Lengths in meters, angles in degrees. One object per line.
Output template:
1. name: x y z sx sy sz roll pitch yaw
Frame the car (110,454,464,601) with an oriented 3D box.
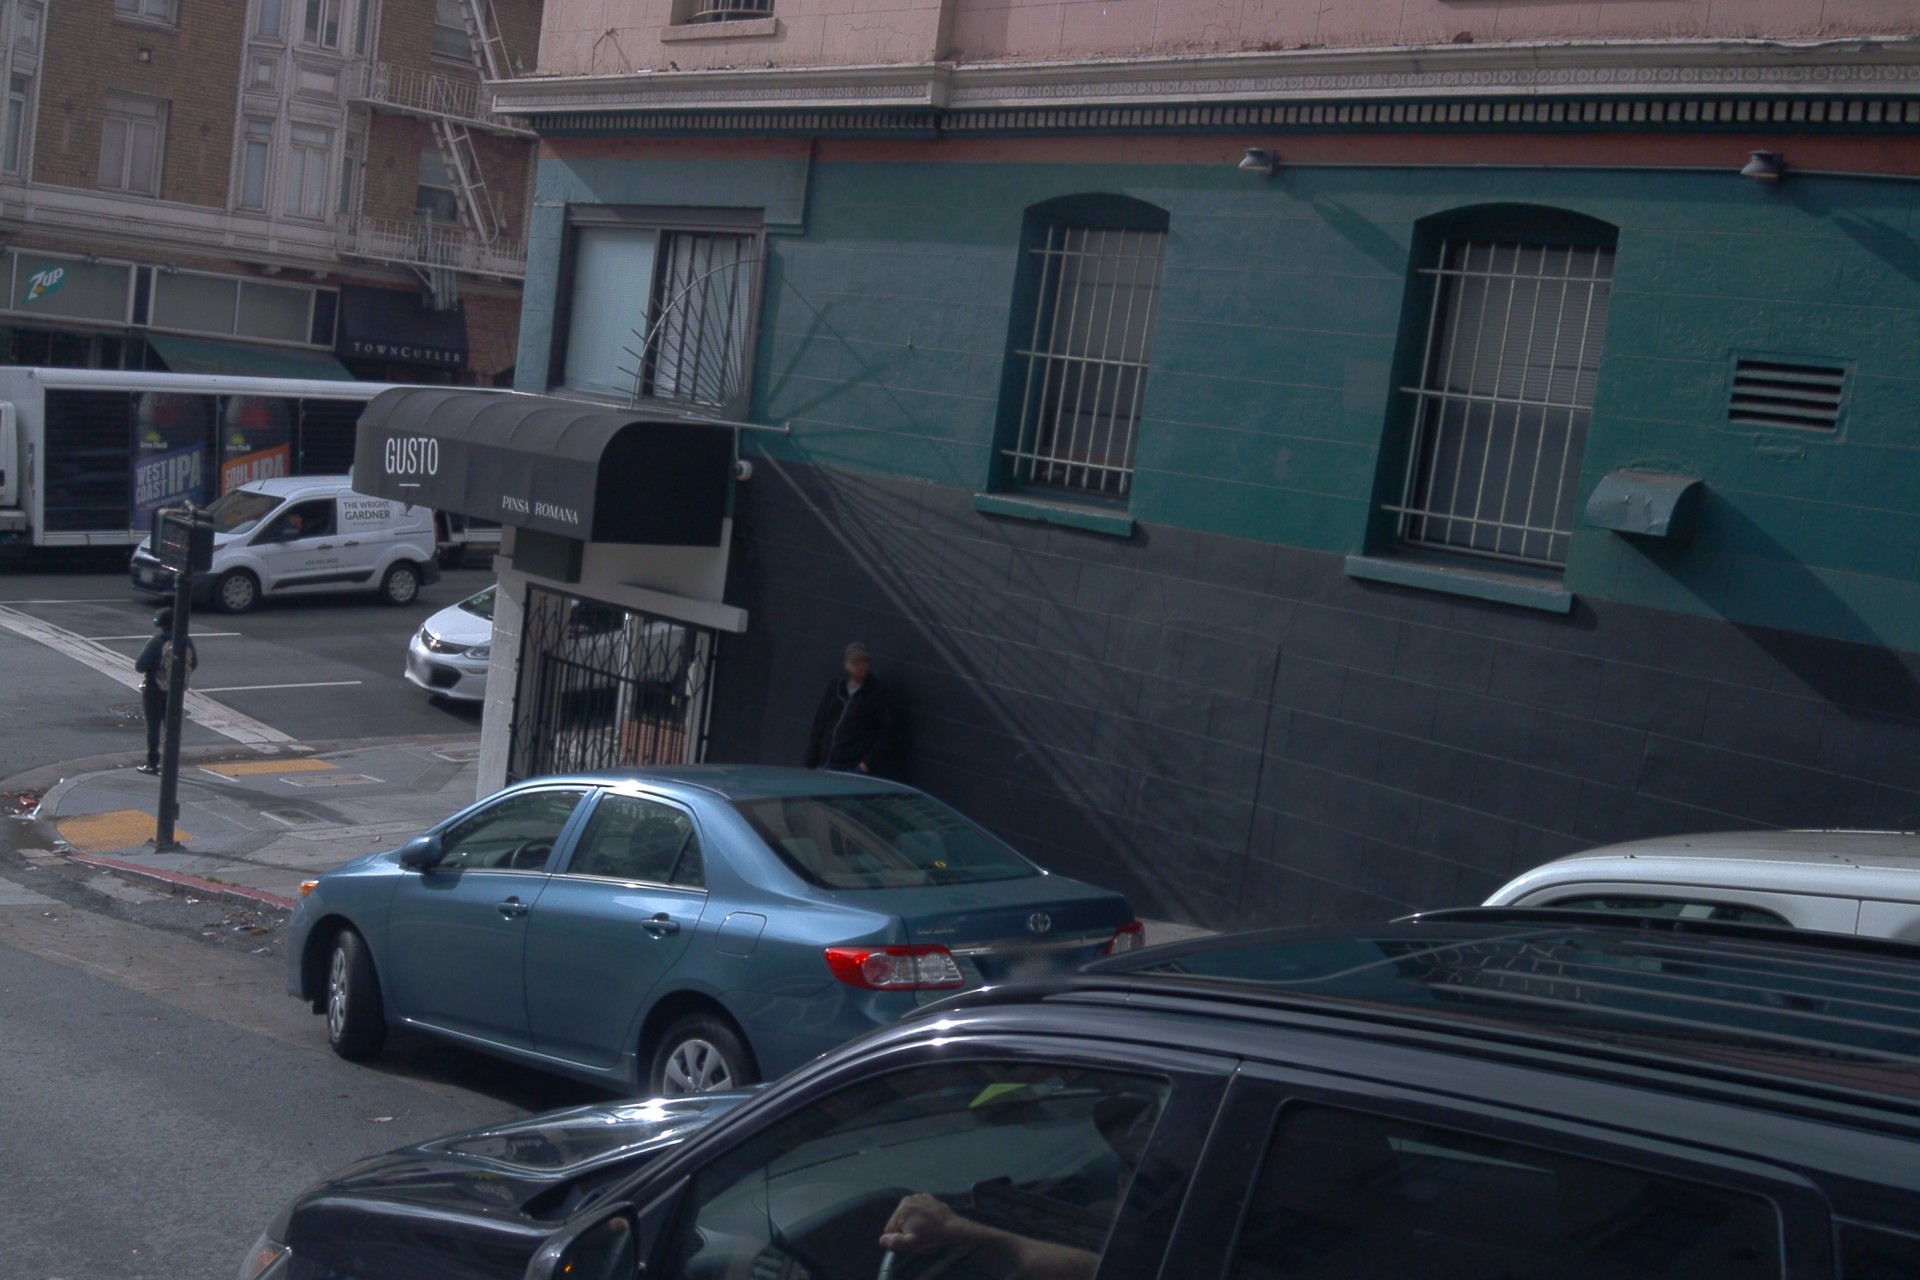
1. car: -9.581 -1.535 29.649 1.948 1.870 4.458 2 1 40

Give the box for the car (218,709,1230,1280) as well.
1. car: -1.257 1.321 9.126 4.523 1.800 2.005 2 1 44

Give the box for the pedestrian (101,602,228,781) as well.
1. pedestrian: -7.319 0.452 18.980 0.929 1.590 0.750 2 1 44

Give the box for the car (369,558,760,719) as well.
1. car: -4.745 -0.030 25.176 2.062 1.780 4.279 2 1 42

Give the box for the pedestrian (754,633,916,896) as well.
1. pedestrian: -0.891 0.862 14.793 0.854 1.800 0.768 1 1 28
